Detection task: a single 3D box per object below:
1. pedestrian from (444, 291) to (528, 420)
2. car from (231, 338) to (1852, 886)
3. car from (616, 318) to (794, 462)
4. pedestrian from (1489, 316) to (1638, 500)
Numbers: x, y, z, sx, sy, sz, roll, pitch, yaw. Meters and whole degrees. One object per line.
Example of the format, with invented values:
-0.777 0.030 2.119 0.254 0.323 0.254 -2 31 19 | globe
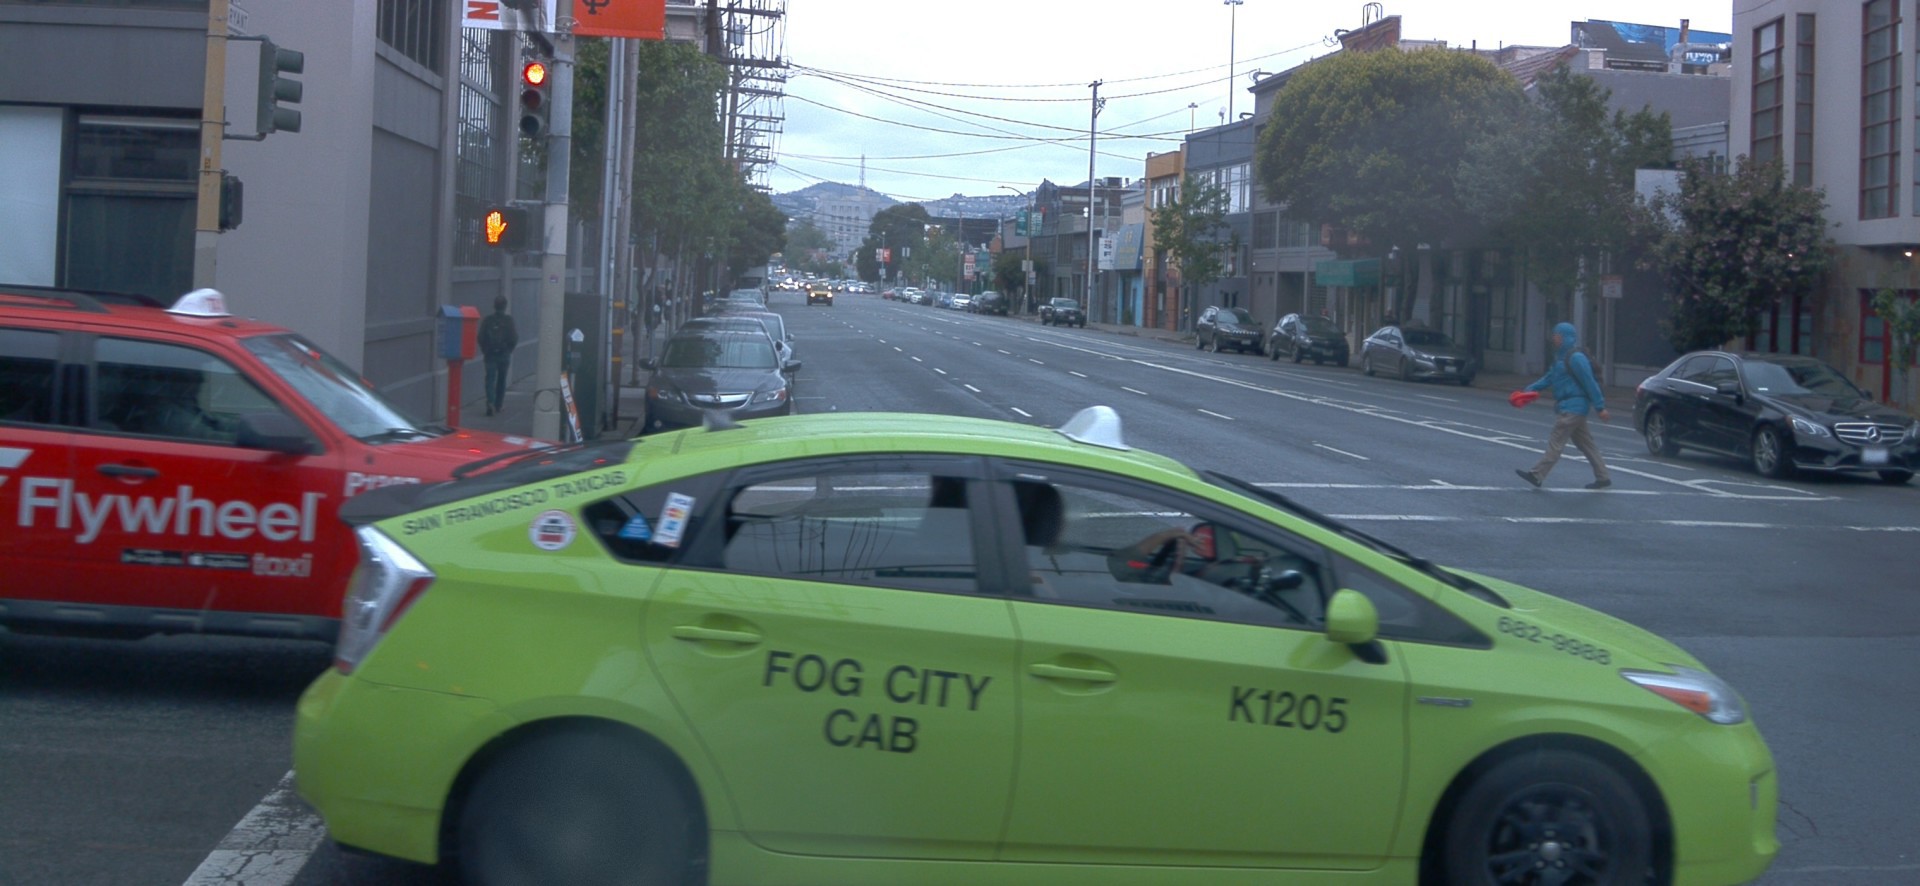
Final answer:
-6.455 -1.212 28.303 1.001 1.679 1.017 0 2 -7 | pedestrian
0.214 0.580 6.864 4.560 1.726 2.160 0 4 -6 | car
-3.118 -0.748 26.082 2.020 1.454 4.435 0 5 -5 | car
6.216 -0.383 21.414 1.219 1.809 0.938 0 1 -5 | pedestrian
